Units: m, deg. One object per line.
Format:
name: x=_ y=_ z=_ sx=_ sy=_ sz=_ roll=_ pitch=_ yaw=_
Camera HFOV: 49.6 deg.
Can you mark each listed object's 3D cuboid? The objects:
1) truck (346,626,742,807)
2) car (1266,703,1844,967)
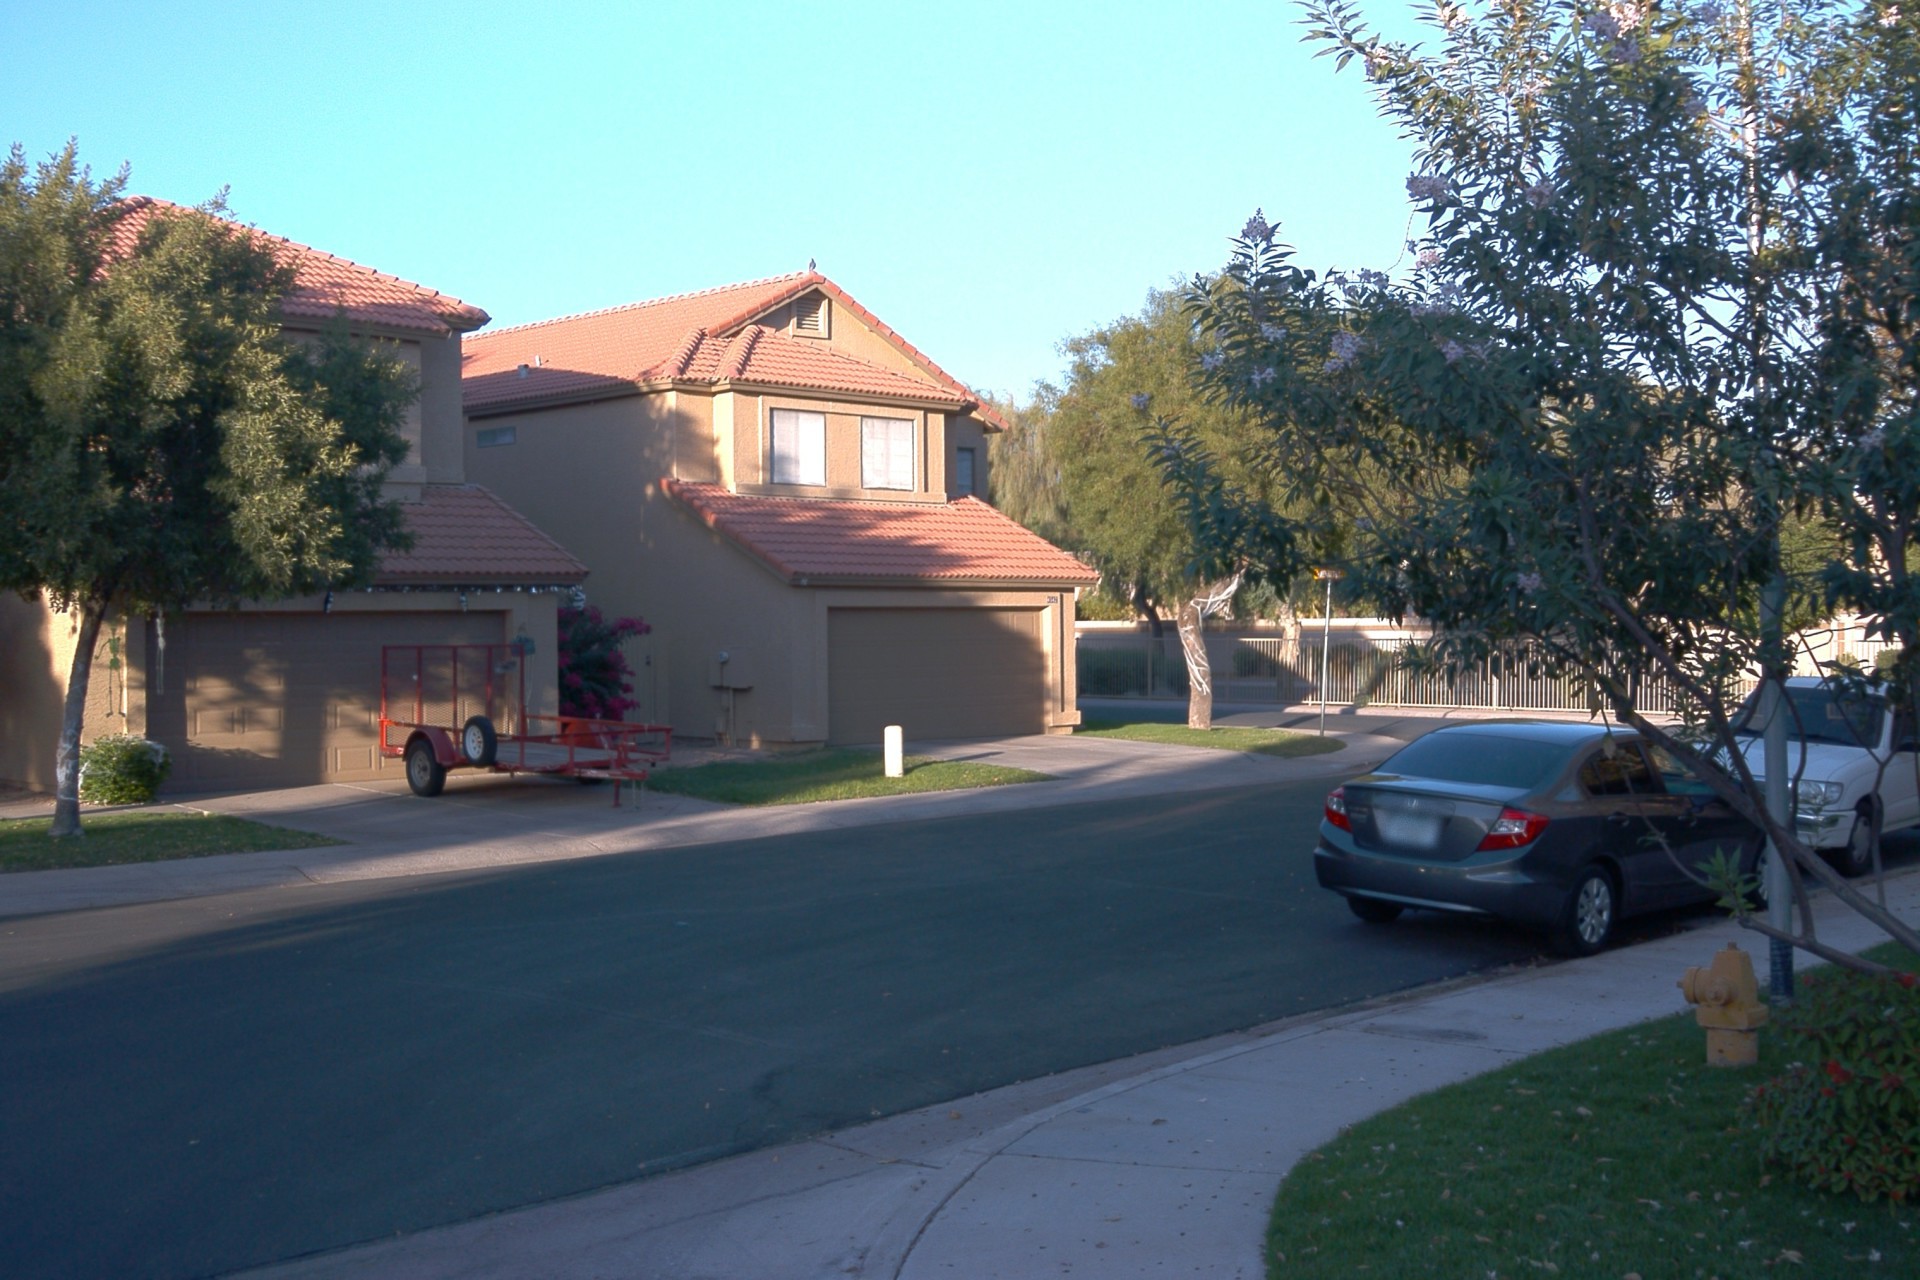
truck: x=-4.930 y=0.827 z=24.295 sx=2.622 sy=1.900 sz=4.348 roll=1 pitch=-1 yaw=-43
car: x=4.312 y=1.226 z=14.632 sx=2.054 sy=1.470 sz=4.462 roll=0 pitch=-1 yaw=44
